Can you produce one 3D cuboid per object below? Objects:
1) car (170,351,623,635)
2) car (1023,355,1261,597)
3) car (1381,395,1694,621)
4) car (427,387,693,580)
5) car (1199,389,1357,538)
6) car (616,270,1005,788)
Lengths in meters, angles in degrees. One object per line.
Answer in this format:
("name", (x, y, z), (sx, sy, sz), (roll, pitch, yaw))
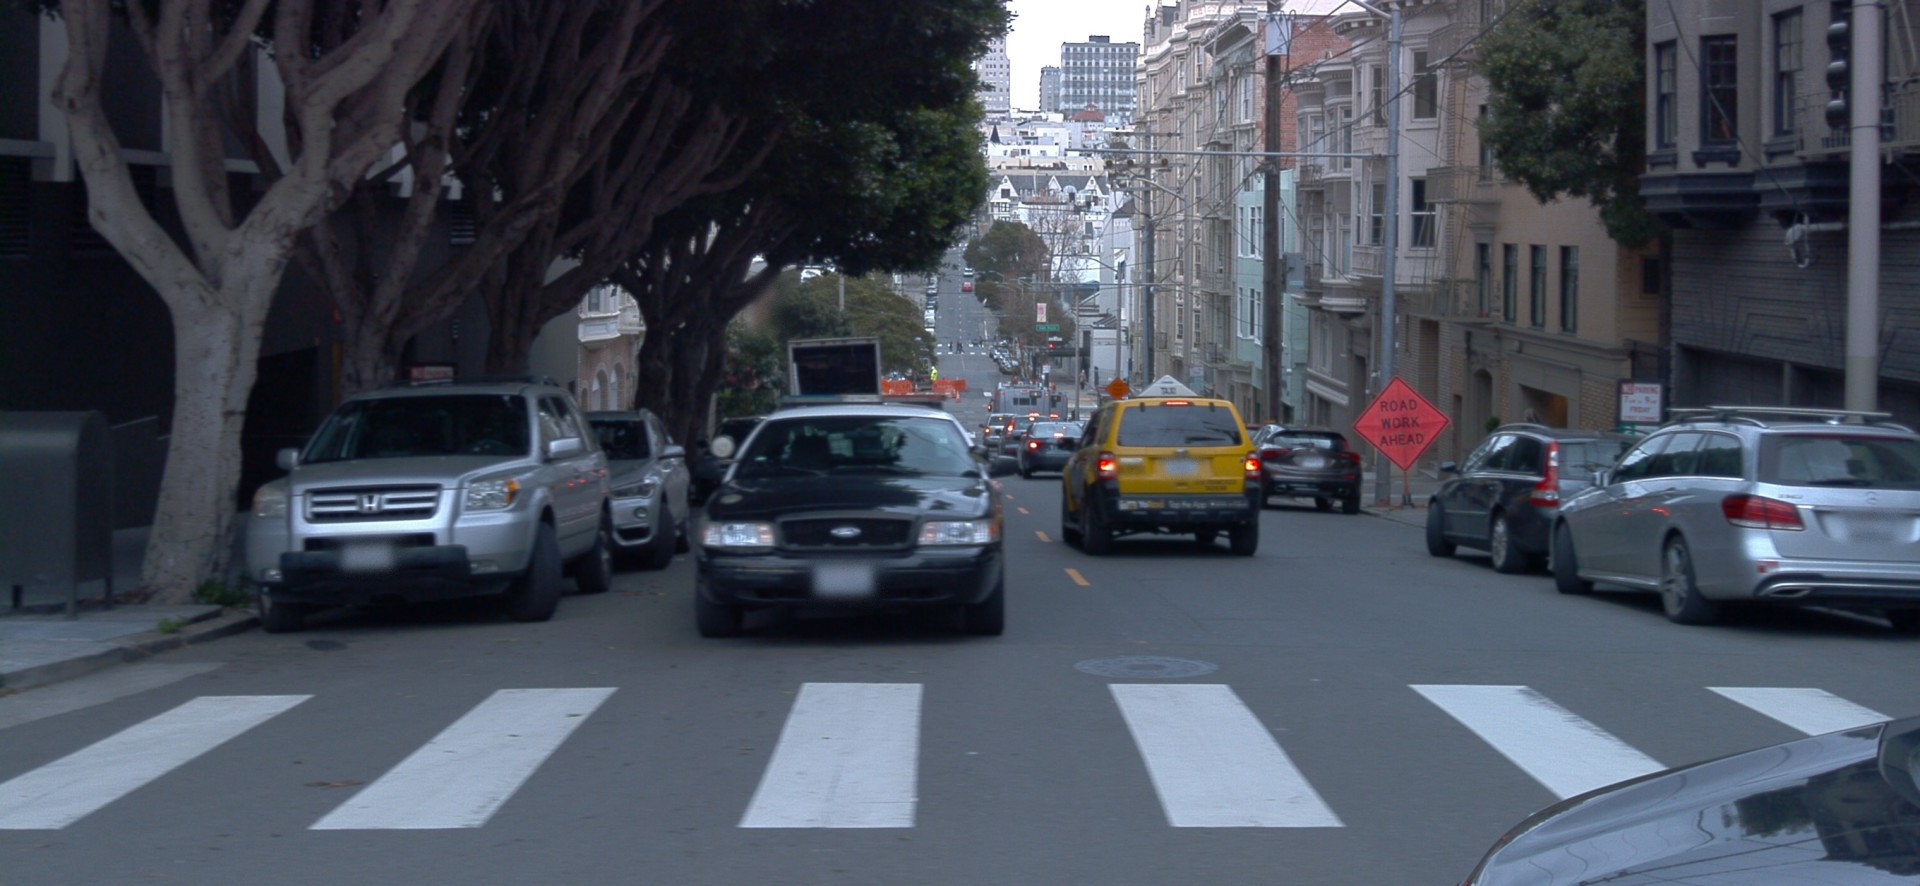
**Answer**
("car", (-4.041, 0.219, 15.673), (2.293, 1.563, 4.656), (0, 5, -2))
("car", (1.931, 0.245, 23.183), (2.119, 2.192, 4.409), (0, 5, -2))
("car", (5.774, 0.558, 21.076), (2.095, 1.773, 3.980), (0, 5, 0))
("car", (-4.009, 0.313, 21.321), (2.051, 1.453, 4.430), (0, 5, -2))
("car", (5.569, 0.282, 36.560), (2.082, 2.092, 4.799), (0, 5, 0))
("car", (-0.914, 0.266, 14.669), (2.235, 2.879, 5.611), (0, 5, -1))
